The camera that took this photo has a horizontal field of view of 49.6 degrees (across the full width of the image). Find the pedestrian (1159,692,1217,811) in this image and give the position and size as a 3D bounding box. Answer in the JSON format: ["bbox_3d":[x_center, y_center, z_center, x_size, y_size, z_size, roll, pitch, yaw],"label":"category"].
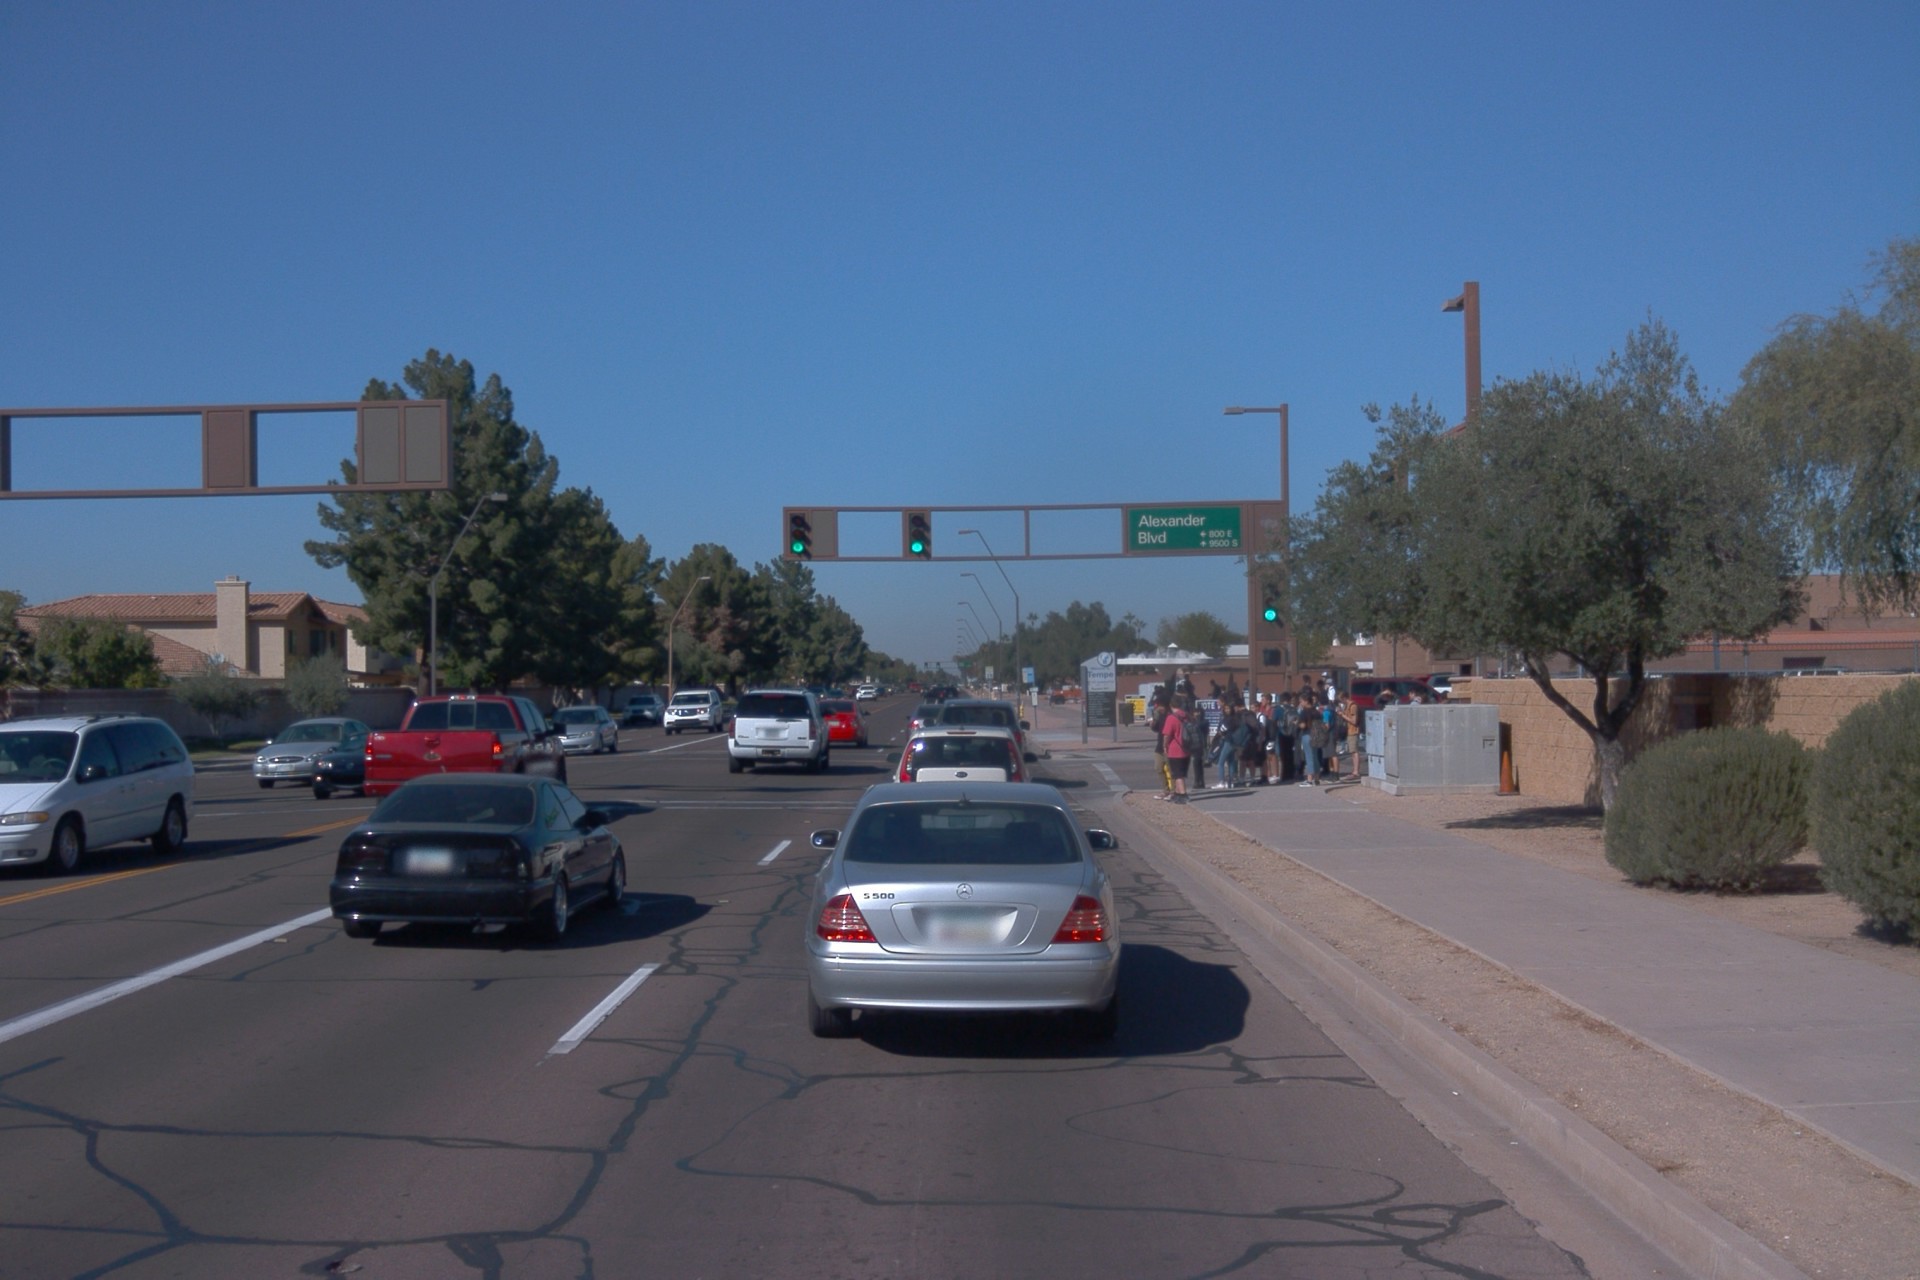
[{"bbox_3d":[3.729,1.806,33.980,0.877,1.910,0.878,0,-1,10],"label":"pedestrian"}]

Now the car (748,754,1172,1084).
[{"bbox_3d":[-0.019,1.620,13.386,2.265,1.600,4.514,0,-1,-1],"label":"car"}]

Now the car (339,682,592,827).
[{"bbox_3d":[-7.291,1.637,31.417,2.581,1.980,5.796,0,-1,-2],"label":"car"}]

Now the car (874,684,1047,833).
[{"bbox_3d":[0.048,1.461,27.092,2.056,1.760,4.487,0,-1,1],"label":"car"}]

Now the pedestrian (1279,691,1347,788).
[{"bbox_3d":[6.345,1.776,37.369,0.844,1.710,0.856,1,-1,-44],"label":"pedestrian"}]

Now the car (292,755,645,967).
[{"bbox_3d":[-3.984,1.761,17.651,1.915,1.410,4.397,0,-1,1],"label":"car"}]

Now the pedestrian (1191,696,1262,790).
[{"bbox_3d":[4.866,1.865,37.910,1.032,1.670,0.875,0,-1,28],"label":"pedestrian"}]

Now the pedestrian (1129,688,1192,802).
[{"bbox_3d":[3.396,1.754,35.139,0.822,1.890,0.887,0,-1,24],"label":"pedestrian"}]
